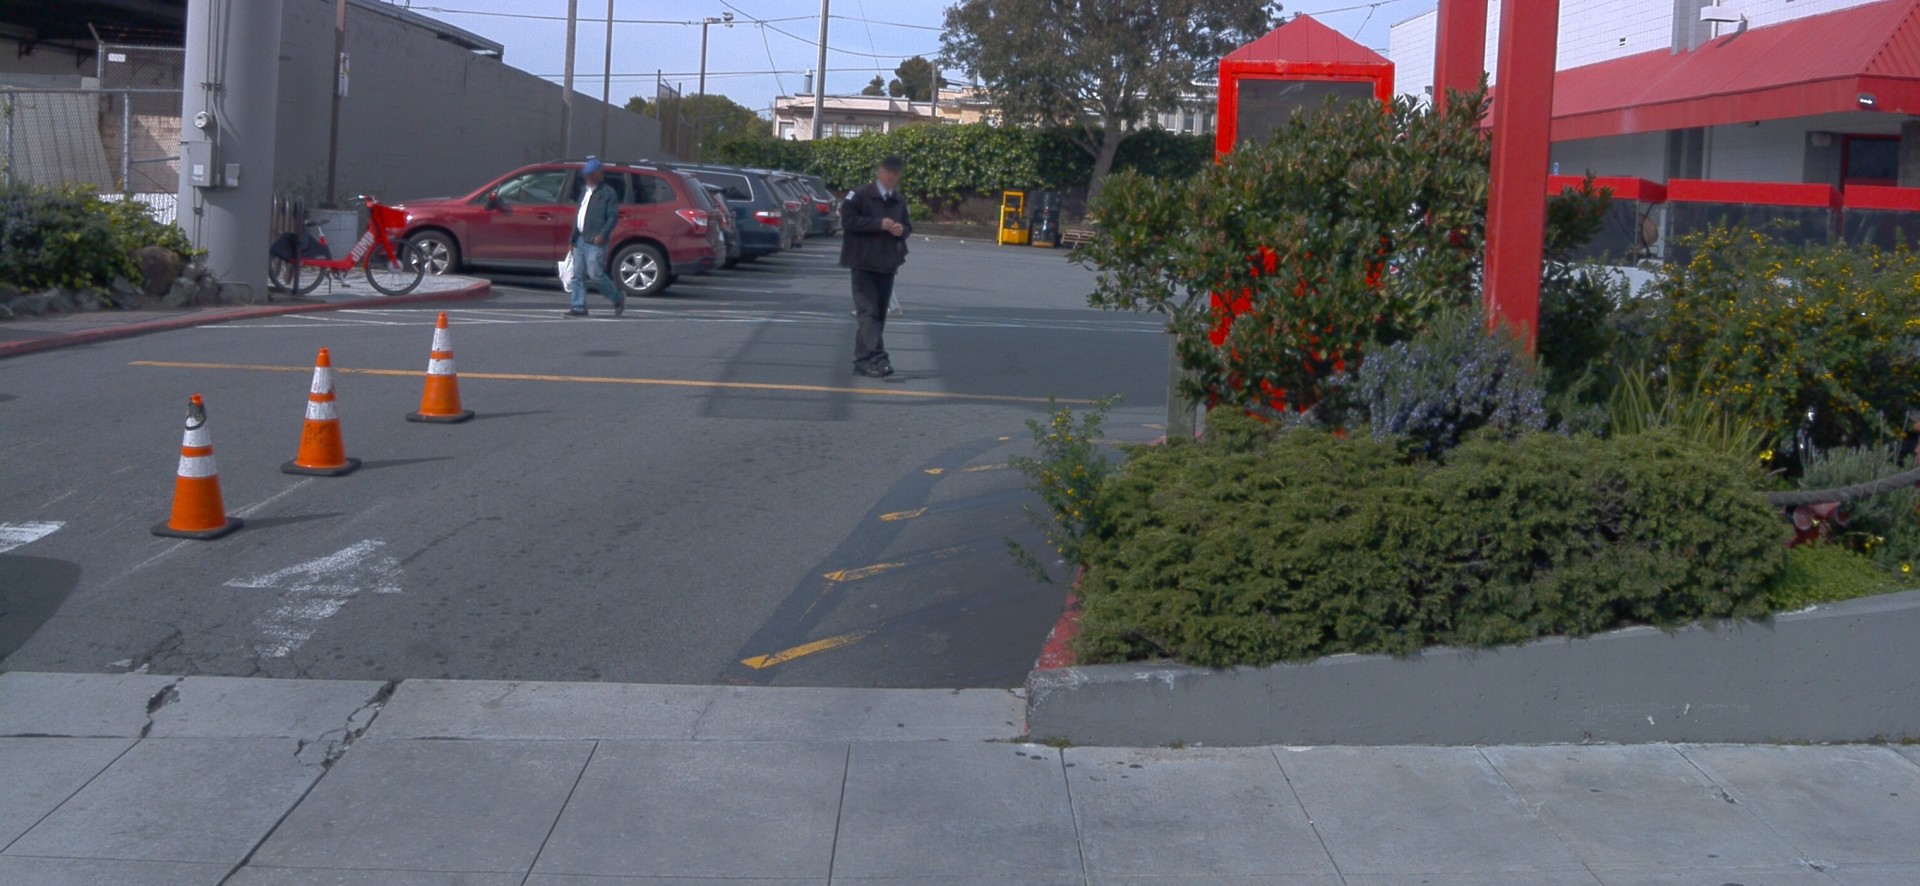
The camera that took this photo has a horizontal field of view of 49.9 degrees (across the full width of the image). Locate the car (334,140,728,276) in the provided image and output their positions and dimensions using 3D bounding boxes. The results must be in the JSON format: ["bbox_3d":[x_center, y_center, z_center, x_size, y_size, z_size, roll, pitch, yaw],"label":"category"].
[{"bbox_3d":[-5.555,-3.083,27.243,4.792,1.717,2.140,0,3,-2],"label":"car"}]

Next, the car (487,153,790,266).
[{"bbox_3d":[-5.440,-4.001,35.489,4.935,1.867,2.196,0,3,-2],"label":"car"}]

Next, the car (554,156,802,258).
[{"bbox_3d":[-5.166,-4.369,38.327,4.382,1.827,2.123,0,3,-2],"label":"car"}]

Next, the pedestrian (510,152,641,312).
[{"bbox_3d":[-4.124,-2.268,22.191,1.009,1.670,0.952,1,2,30],"label":"pedestrian"}]

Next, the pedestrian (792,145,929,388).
[{"bbox_3d":[-0.815,-1.445,16.814,0.825,1.920,0.796,-1,1,-32],"label":"pedestrian"}]
